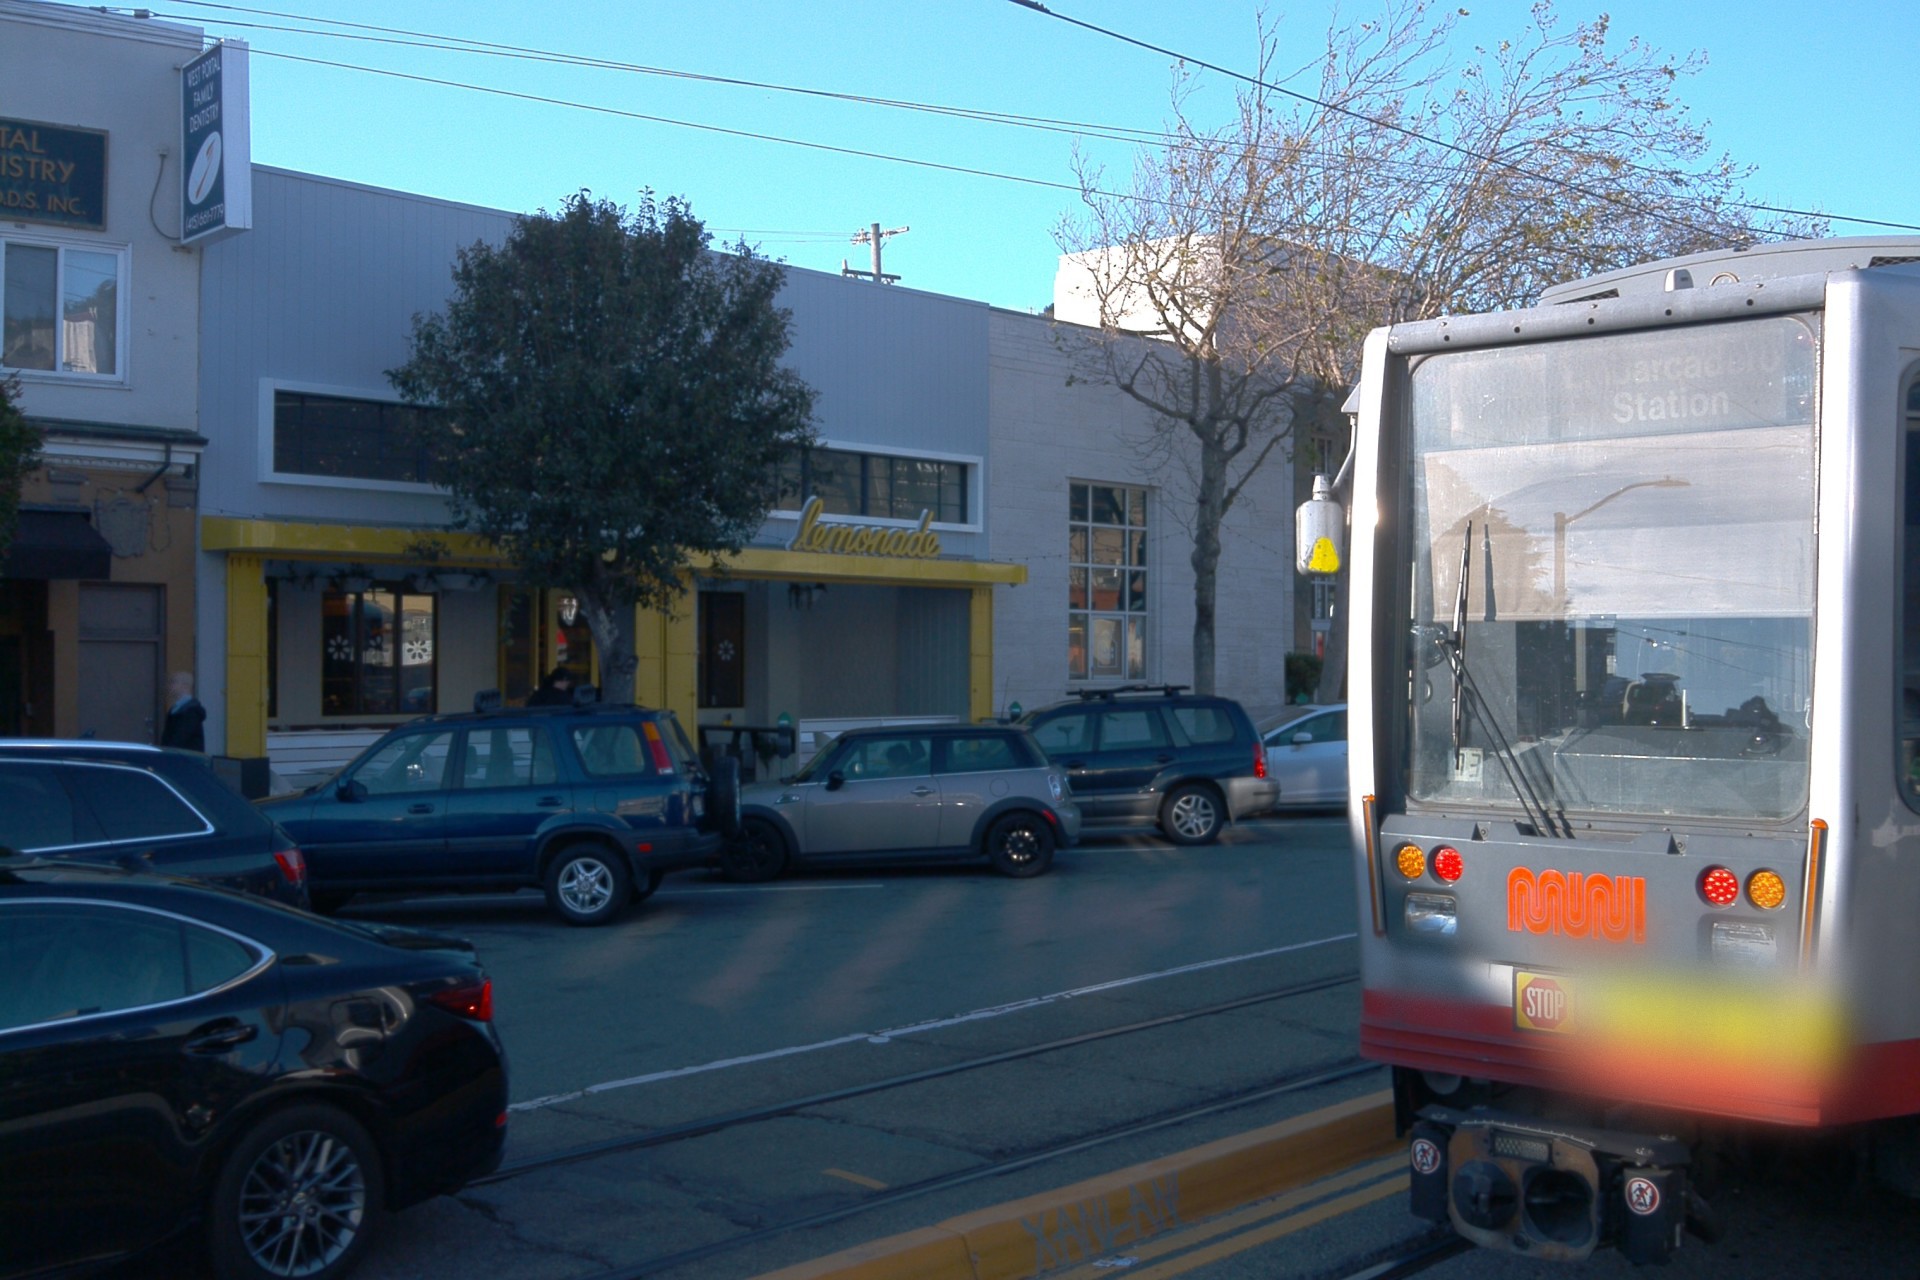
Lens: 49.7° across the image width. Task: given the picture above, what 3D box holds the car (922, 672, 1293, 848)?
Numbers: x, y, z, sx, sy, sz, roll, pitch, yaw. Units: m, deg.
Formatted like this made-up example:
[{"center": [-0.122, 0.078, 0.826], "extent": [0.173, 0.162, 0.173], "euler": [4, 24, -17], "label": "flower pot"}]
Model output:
[{"center": [1.515, 1.251, 22.389], "extent": [3.806, 1.750, 1.936], "euler": [0, 0, -3], "label": "car"}]

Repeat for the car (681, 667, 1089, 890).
[{"center": [-0.620, 1.253, 19.489], "extent": [3.614, 1.950, 1.902], "euler": [0, 0, 4], "label": "car"}]

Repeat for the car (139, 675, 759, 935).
[{"center": [-3.965, 1.265, 16.675], "extent": [4.415, 1.900, 2.081], "euler": [0, 0, 2], "label": "car"}]

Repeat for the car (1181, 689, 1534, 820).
[{"center": [4.921, 1.403, 26.006], "extent": [4.042, 1.500, 1.815], "euler": [0, 0, -3], "label": "car"}]

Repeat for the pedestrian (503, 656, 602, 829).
[{"center": [-4.314, 1.068, 21.962], "extent": [0.867, 1.790, 0.565], "euler": [0, 0, 34], "label": "pedestrian"}]

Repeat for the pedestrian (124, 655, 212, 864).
[{"center": [-7.509, 1.111, 19.647], "extent": [0.568, 1.920, 0.732], "euler": [0, 0, -40], "label": "pedestrian"}]
